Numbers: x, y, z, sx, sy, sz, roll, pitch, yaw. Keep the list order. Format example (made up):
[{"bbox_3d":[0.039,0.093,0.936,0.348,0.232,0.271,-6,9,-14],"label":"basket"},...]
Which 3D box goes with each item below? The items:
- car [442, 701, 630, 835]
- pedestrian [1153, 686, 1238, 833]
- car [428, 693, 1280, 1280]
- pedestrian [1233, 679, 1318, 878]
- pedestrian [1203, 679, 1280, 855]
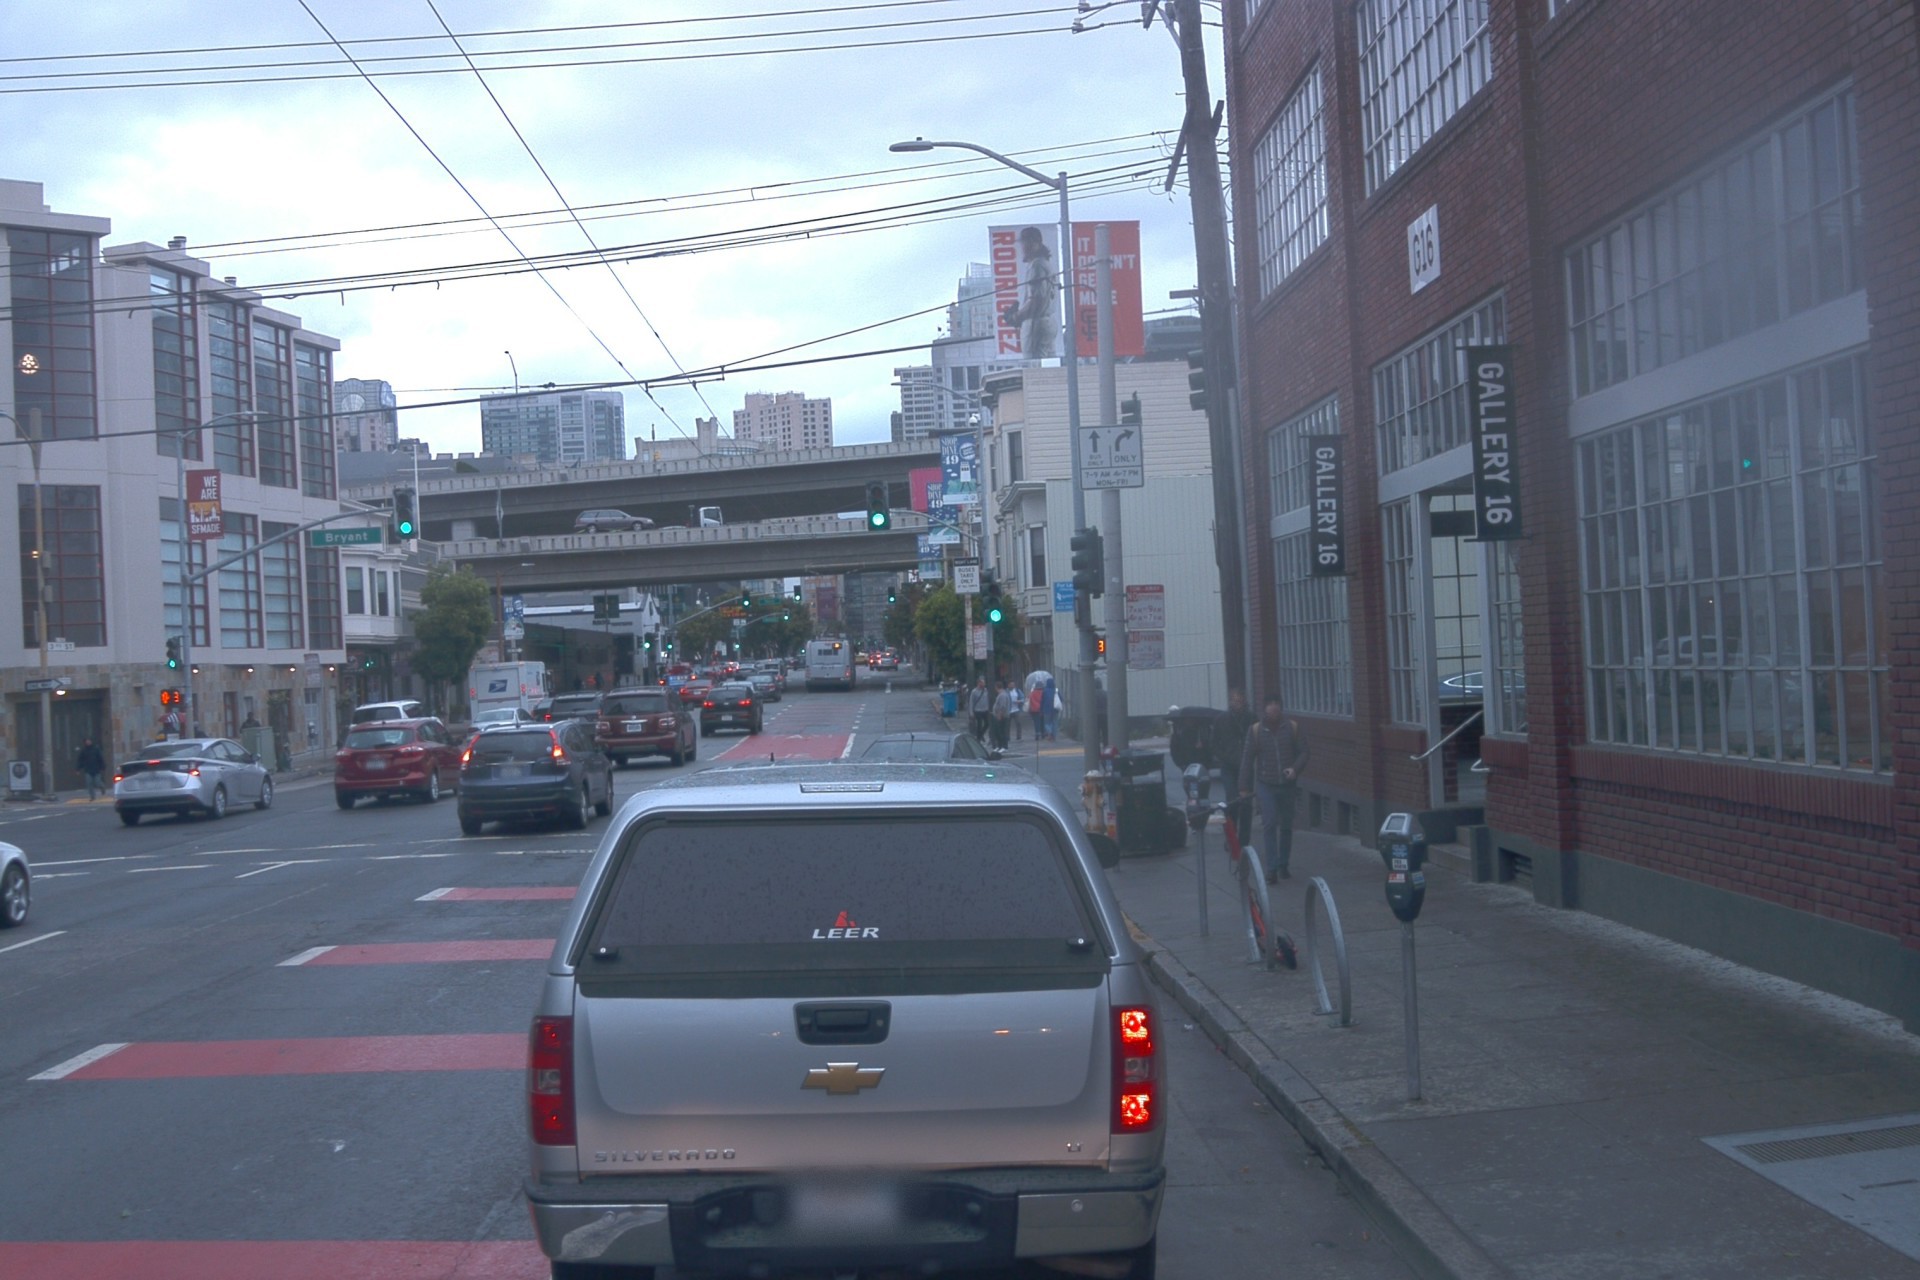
[{"bbox_3d":[-6.487,1.916,32.229,2.073,1.860,4.587,0,-1,-1],"label":"car"},{"bbox_3d":[3.057,1.545,27.036,1.015,1.870,1.039,0,-1,2],"label":"pedestrian"},{"bbox_3d":[-0.389,1.293,8.664,2.411,2.070,5.547,0,-1,-2],"label":"car"},{"bbox_3d":[2.964,1.280,19.483,0.763,1.820,0.915,0,-1,8],"label":"pedestrian"},{"bbox_3d":[3.064,1.366,22.641,0.749,1.870,0.954,0,-1,3],"label":"pedestrian"}]
